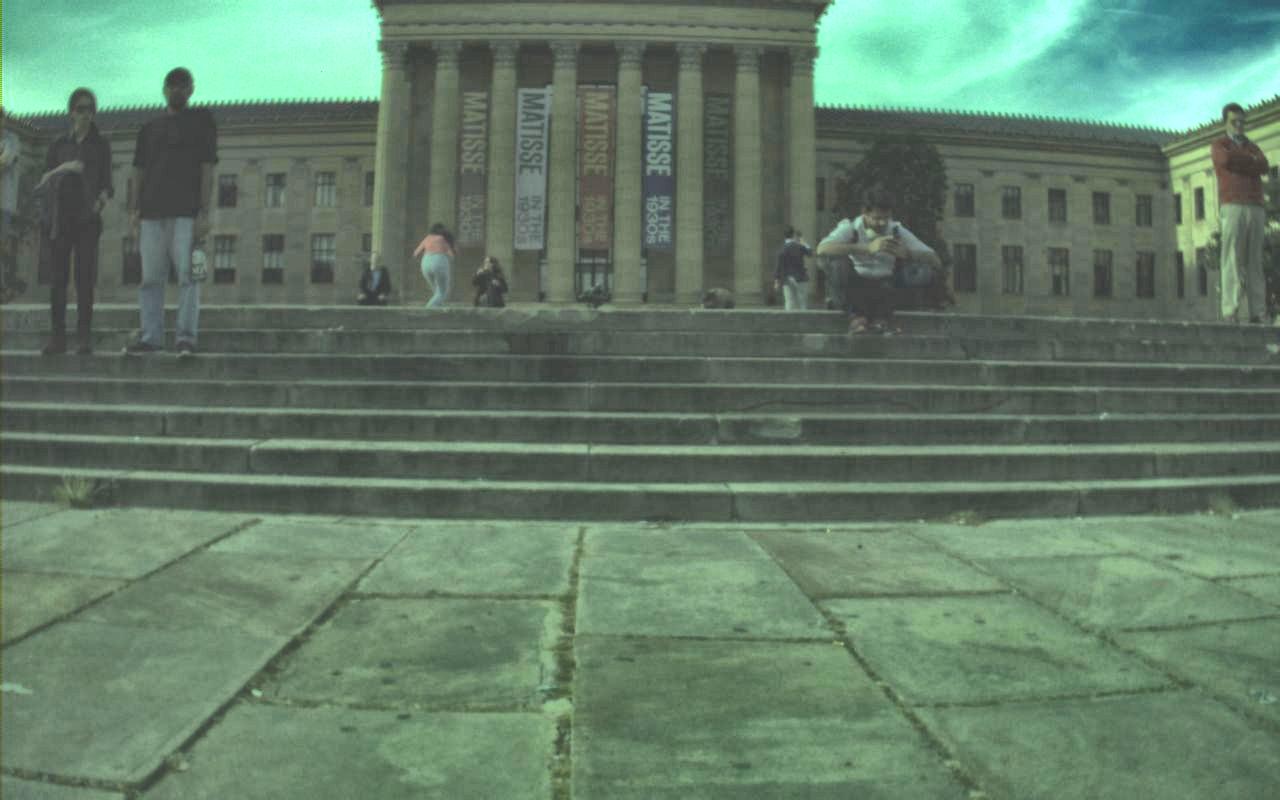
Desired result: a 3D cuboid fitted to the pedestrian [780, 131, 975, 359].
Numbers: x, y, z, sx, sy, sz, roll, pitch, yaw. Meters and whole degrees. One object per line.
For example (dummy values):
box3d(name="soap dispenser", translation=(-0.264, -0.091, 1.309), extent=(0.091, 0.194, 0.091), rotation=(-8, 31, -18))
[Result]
box3d(name="pedestrian", translation=(1.455, -0.901, 7.629), extent=(0.909, 1.295, 0.797), rotation=(0, 0, -31))

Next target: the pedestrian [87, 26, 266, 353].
box3d(name="pedestrian", translation=(-2.746, -1.187, 6.950), extent=(0.779, 1.839, 0.784), rotation=(0, 0, 3))

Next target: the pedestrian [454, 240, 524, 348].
box3d(name="pedestrian", translation=(-2.423, -1.672, 20.139), extent=(0.833, 1.672, 0.849), rotation=(1, 0, 16))

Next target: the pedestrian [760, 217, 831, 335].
box3d(name="pedestrian", translation=(2.461, -1.940, 19.907), extent=(0.819, 1.789, 0.825), rotation=(0, 0, -22))

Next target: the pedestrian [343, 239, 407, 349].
box3d(name="pedestrian", translation=(-4.267, -1.677, 19.935), extent=(0.835, 1.714, 0.843), rotation=(0, 0, 2))

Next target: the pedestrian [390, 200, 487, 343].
box3d(name="pedestrian", translation=(-2.549, -1.584, 15.732), extent=(0.836, 1.716, 0.875), rotation=(1, 0, 37))

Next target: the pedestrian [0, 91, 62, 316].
box3d(name="pedestrian", translation=(-5.427, -1.624, 9.482), extent=(0.725, 1.855, 0.717), rotation=(0, 0, -12))

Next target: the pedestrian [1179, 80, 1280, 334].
box3d(name="pedestrian", translation=(4.550, -1.415, 8.619), extent=(0.781, 1.853, 0.773), rotation=(0, 0, 15))

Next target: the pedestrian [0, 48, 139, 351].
box3d(name="pedestrian", translation=(-3.509, -1.169, 6.886), extent=(0.726, 1.766, 0.725), rotation=(0, 0, -12))
